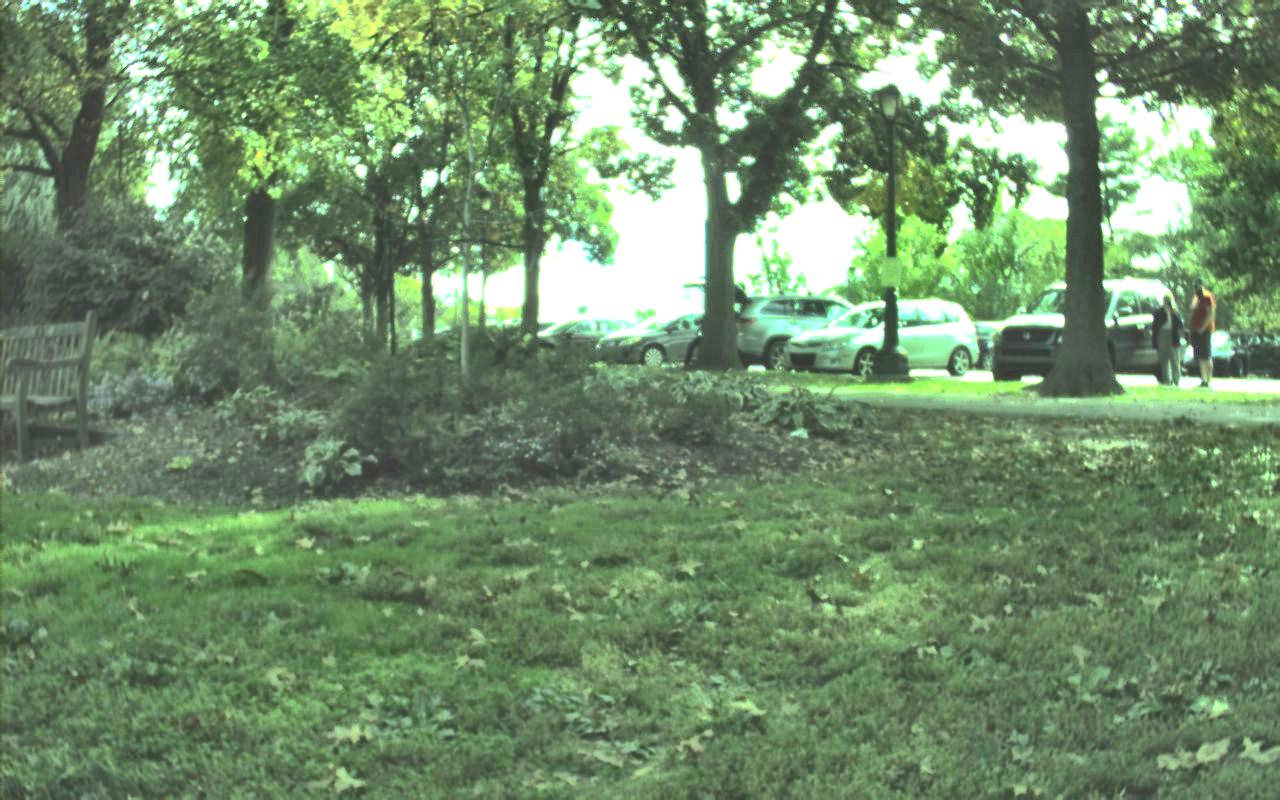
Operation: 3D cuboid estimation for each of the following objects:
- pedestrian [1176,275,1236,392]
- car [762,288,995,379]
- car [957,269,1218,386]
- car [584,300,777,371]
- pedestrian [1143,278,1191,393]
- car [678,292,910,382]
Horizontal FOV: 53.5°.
[{"bbox_3d":[9.233,-1.026,18.965,0.759,1.869,0.766,0,0,-33],"label":"pedestrian"},{"bbox_3d":[4.751,-1.226,24.490,4.580,1.617,1.947,0,1,-34],"label":"car"},{"bbox_3d":[7.441,-1.066,19.641,4.571,1.696,2.010,0,1,-30],"label":"car"},{"bbox_3d":[1.026,-1.543,31.419,4.415,1.605,1.948,0,1,-31],"label":"car"},{"bbox_3d":[8.459,-0.995,18.950,0.770,1.815,0.759,1,0,21],"label":"pedestrian"},{"bbox_3d":[3.311,-1.273,26.789,4.610,1.770,1.984,0,1,-25],"label":"car"}]
